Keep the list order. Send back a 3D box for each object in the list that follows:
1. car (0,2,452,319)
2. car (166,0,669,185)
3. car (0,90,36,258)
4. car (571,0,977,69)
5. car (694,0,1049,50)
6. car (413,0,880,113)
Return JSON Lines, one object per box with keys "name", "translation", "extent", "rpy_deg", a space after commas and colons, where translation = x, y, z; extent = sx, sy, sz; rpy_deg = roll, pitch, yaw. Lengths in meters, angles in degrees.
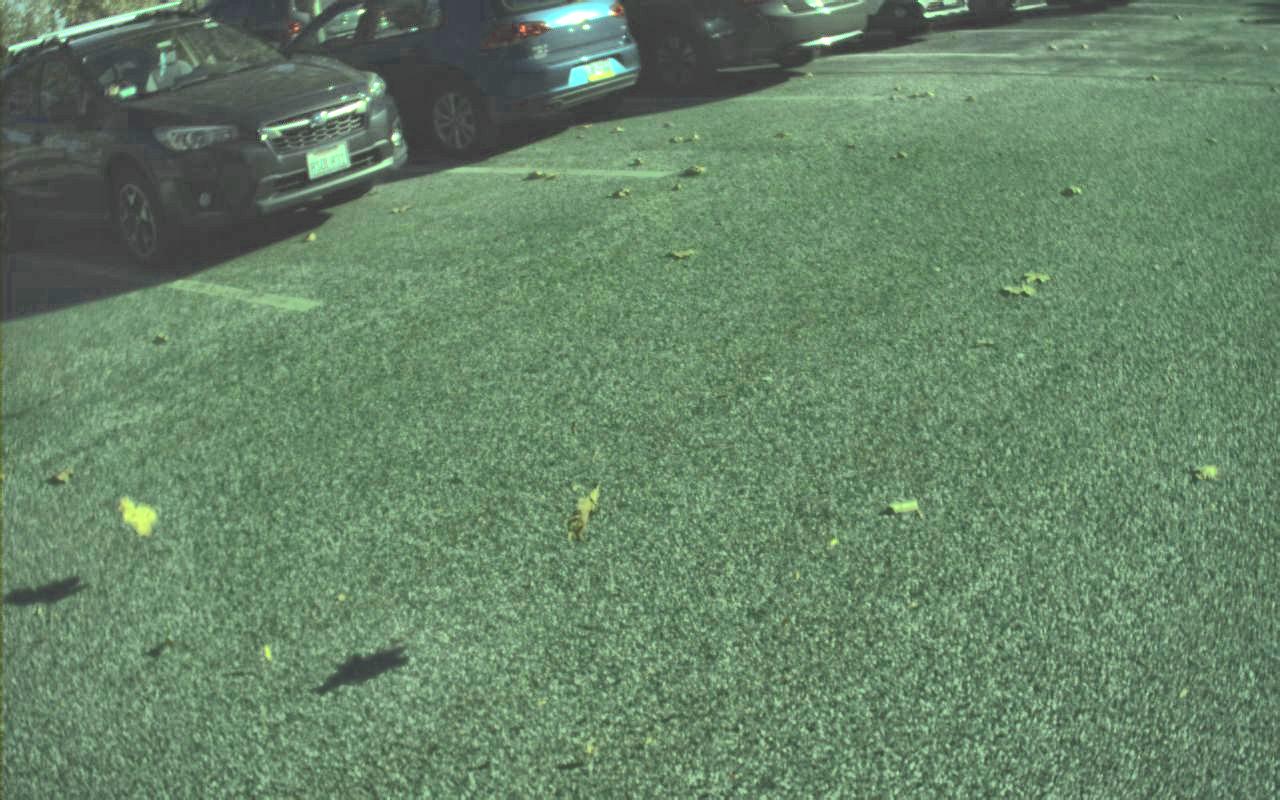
{"name": "car", "translation": [-3.578, -1.819, 8.278], "extent": [4.548, 1.608, 1.979], "rpy_deg": [12, 21, 38]}
{"name": "car", "translation": [-2.090, -2.766, 10.231], "extent": [4.335, 1.527, 1.908], "rpy_deg": [11, 20, 35]}
{"name": "car", "translation": [-9.678, -2.887, 13.544], "extent": [4.590, 1.643, 1.992], "rpy_deg": [10, 19, 32]}
{"name": "car", "translation": [1.478, -4.644, 14.032], "extent": [4.430, 1.525, 1.948], "rpy_deg": [13, 21, 39]}
{"name": "car", "translation": [3.044, -5.491, 15.901], "extent": [4.408, 1.567, 1.940], "rpy_deg": [13, 21, 39]}
{"name": "car", "translation": [-0.096, -3.629, 11.805], "extent": [4.466, 1.497, 1.941], "rpy_deg": [15, 23, 42]}
